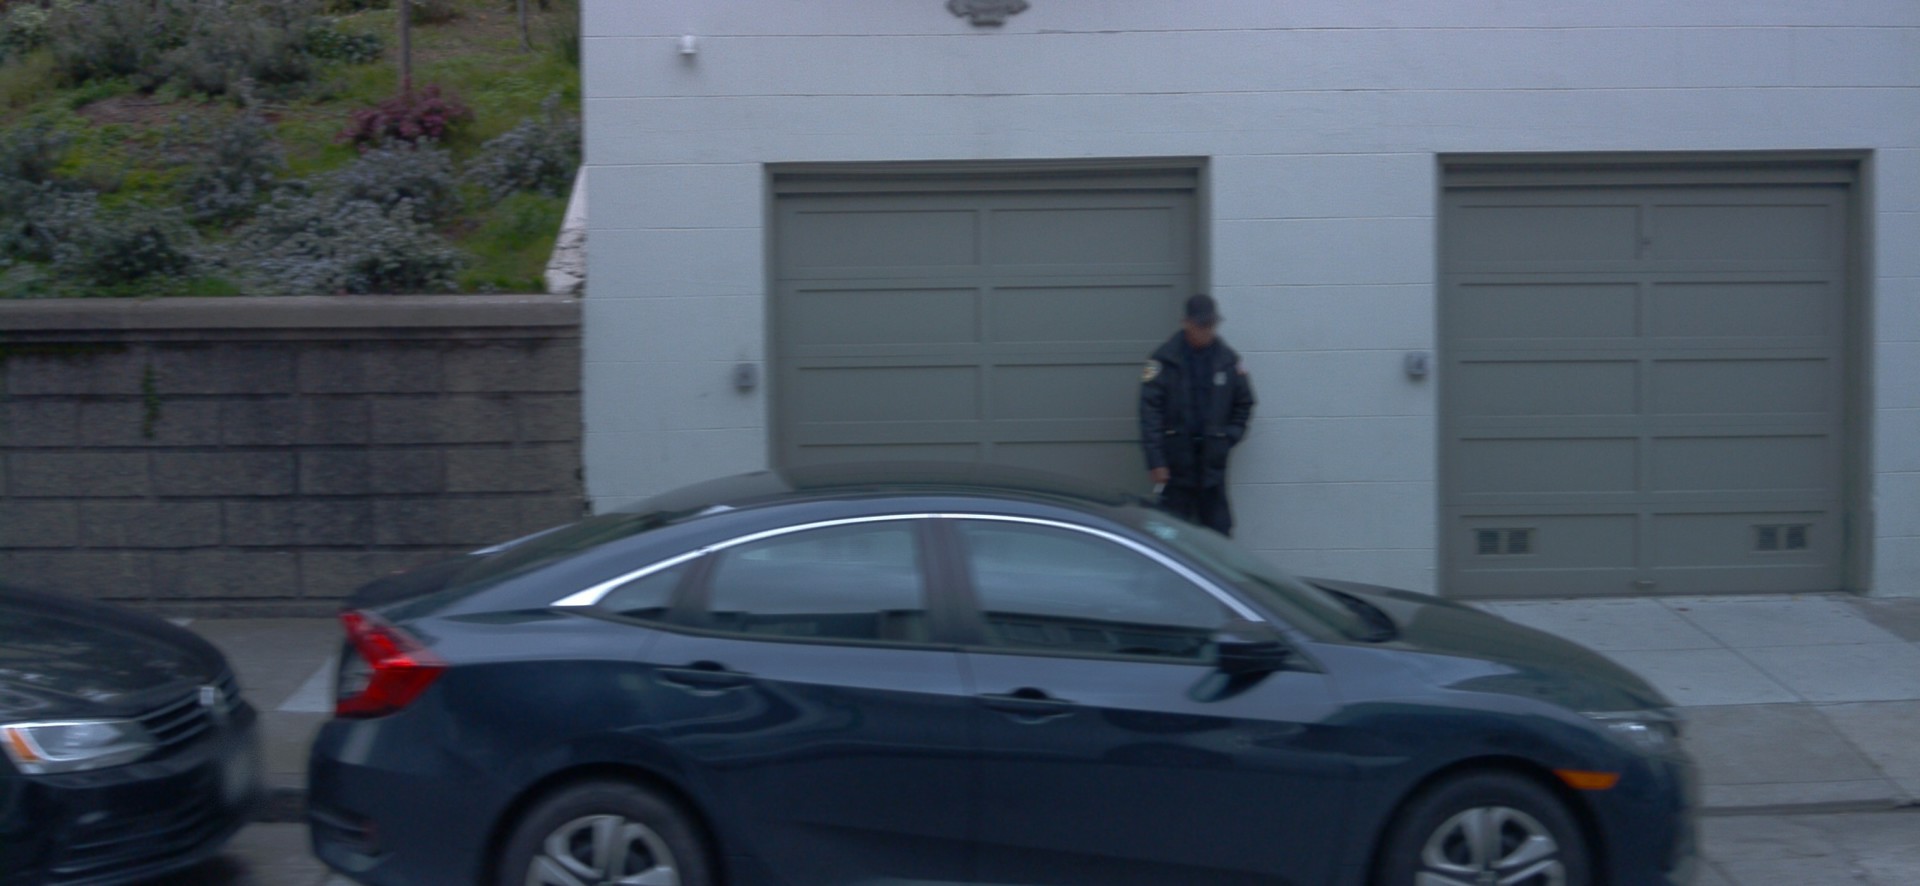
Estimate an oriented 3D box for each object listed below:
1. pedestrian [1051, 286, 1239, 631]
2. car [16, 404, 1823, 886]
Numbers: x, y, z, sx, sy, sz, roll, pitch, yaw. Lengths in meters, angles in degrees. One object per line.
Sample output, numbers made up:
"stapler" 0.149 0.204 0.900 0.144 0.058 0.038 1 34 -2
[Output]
"pedestrian" 0.888 0.049 10.071 0.839 1.595 0.680 0 3 -1
"car" -0.118 0.744 6.626 4.799 1.473 2.249 0 5 -2
